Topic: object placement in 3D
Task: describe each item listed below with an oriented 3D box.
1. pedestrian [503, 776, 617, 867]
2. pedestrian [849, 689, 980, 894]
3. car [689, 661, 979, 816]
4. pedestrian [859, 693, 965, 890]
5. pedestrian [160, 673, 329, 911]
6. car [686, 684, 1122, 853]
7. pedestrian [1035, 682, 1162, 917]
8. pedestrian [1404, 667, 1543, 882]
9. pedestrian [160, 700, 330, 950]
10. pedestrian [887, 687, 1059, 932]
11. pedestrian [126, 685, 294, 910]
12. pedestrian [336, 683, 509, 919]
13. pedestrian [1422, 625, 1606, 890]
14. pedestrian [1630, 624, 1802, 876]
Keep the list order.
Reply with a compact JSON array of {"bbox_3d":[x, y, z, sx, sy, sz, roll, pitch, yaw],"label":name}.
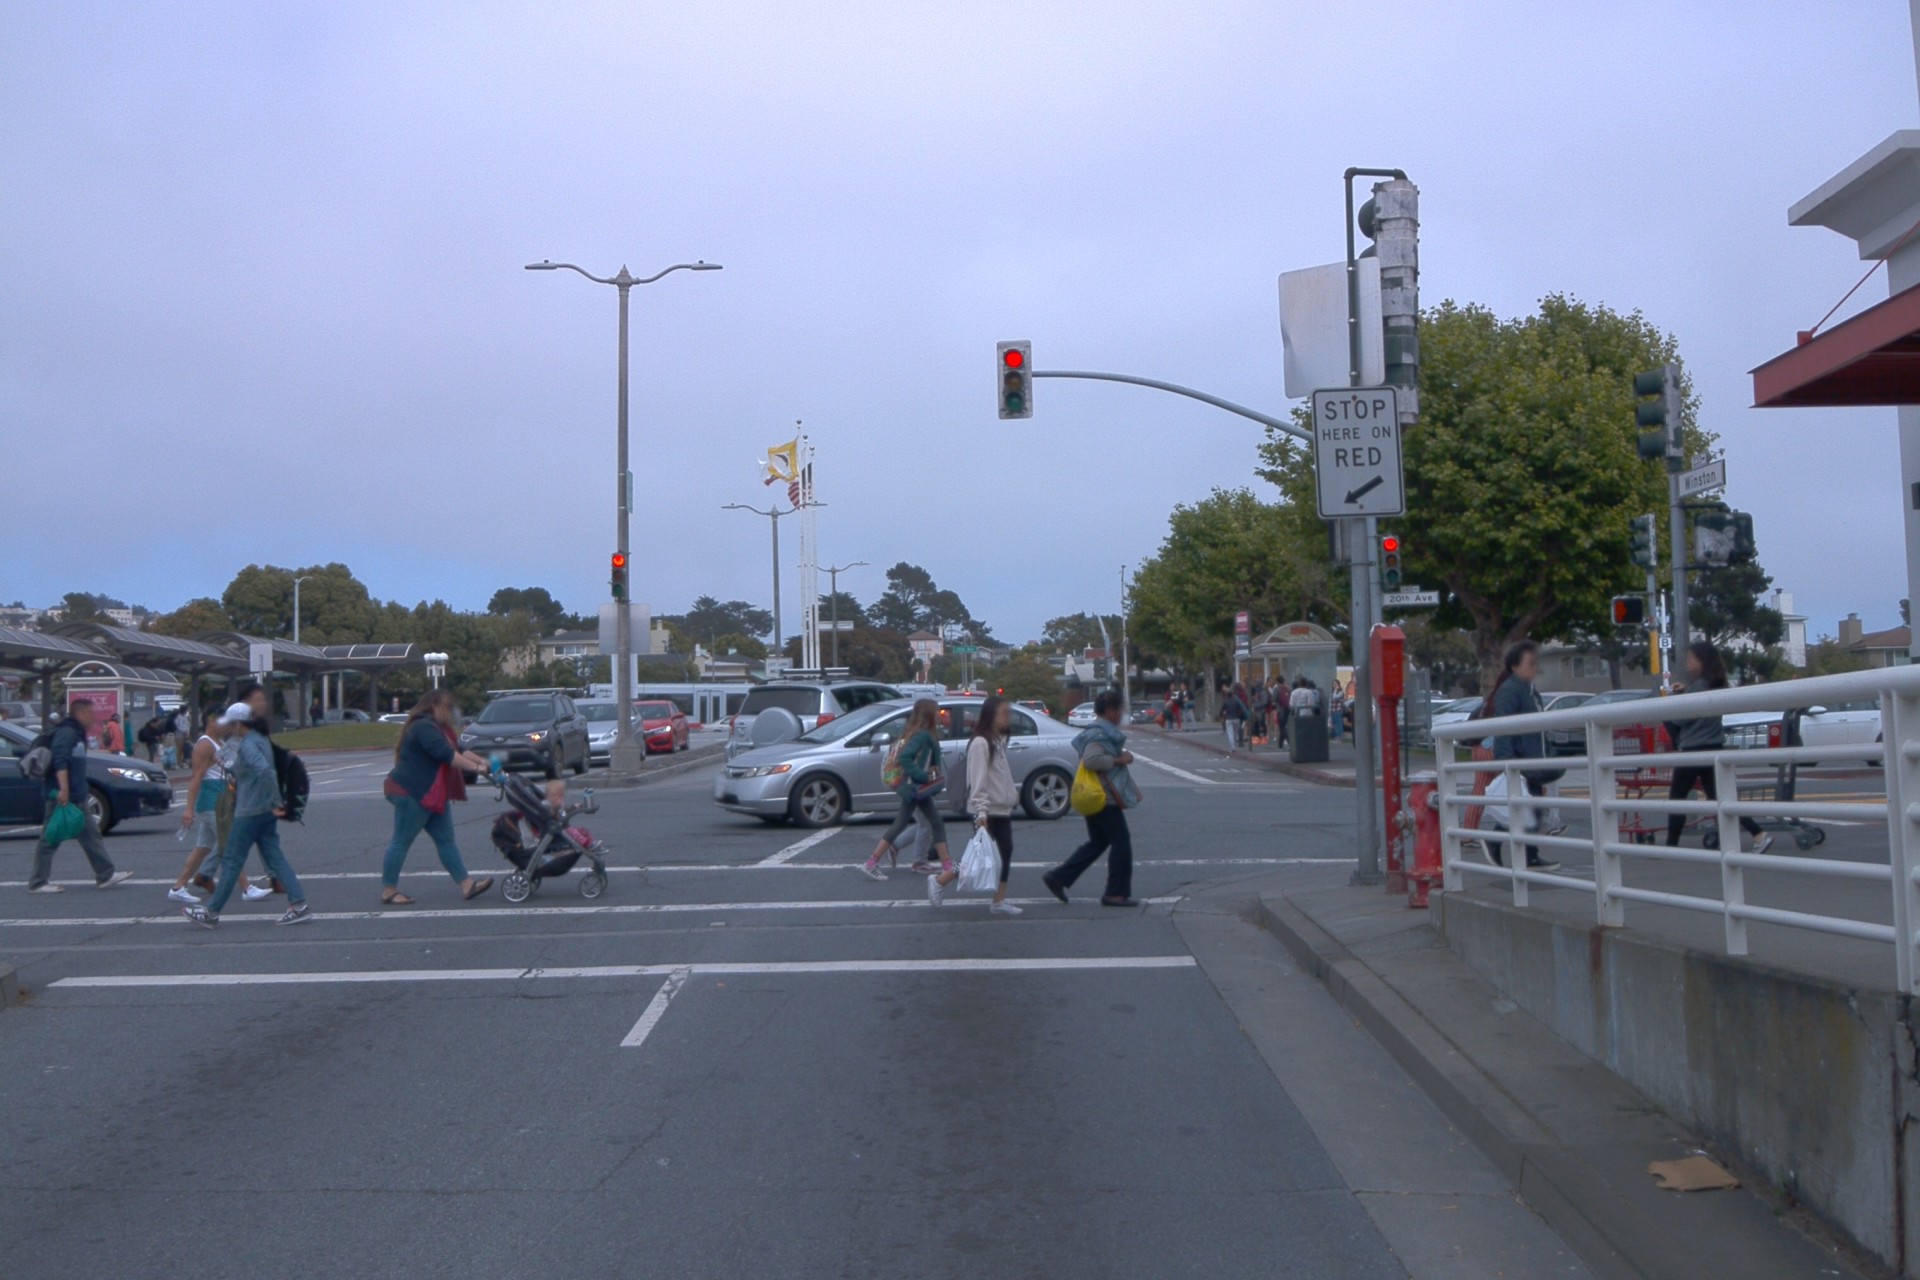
[{"bbox_3d":[-3.026,1.369,15.580,0.771,0.640,0.481,0,1,-1],"label":"pedestrian"},{"bbox_3d":[-0.370,1.189,16.352,0.976,1.560,0.647,0,1,-7],"label":"pedestrian"},{"bbox_3d":[-1.743,1.348,30.094,2.159,1.960,4.595,0,1,28],"label":"car"},{"bbox_3d":[-0.403,1.234,17.010,0.824,1.560,0.697,0,1,-5],"label":"pedestrian"},{"bbox_3d":[-5.719,1.191,16.484,1.004,1.830,0.939,0,1,1],"label":"pedestrian"},{"bbox_3d":[-0.636,1.376,23.201,4.471,1.620,2.031,-1,1,-23],"label":"car"},{"bbox_3d":[0.961,1.099,14.428,0.813,1.580,0.783,0,1,-1],"label":"pedestrian"},{"bbox_3d":[4.090,1.053,16.415,0.942,1.650,0.784,0,1,4],"label":"pedestrian"},{"bbox_3d":[-4.967,1.262,14.337,1.009,1.650,0.763,0,1,-11],"label":"pedestrian"},{"bbox_3d":[0.101,1.128,14.083,0.958,1.580,0.812,0,1,20],"label":"pedestrian"},{"bbox_3d":[-5.769,1.195,15.851,1.012,1.670,0.738,0,1,0],"label":"pedestrian"},{"bbox_3d":[-4.039,1.195,15.506,1.130,1.710,0.706,0,1,-2],"label":"pedestrian"},{"bbox_3d":[3.801,0.763,14.091,0.959,1.730,0.948,0,1,34],"label":"pedestrian"},{"bbox_3d":[5.181,0.721,14.087,0.935,1.650,0.745,0,1,37],"label":"pedestrian"}]
